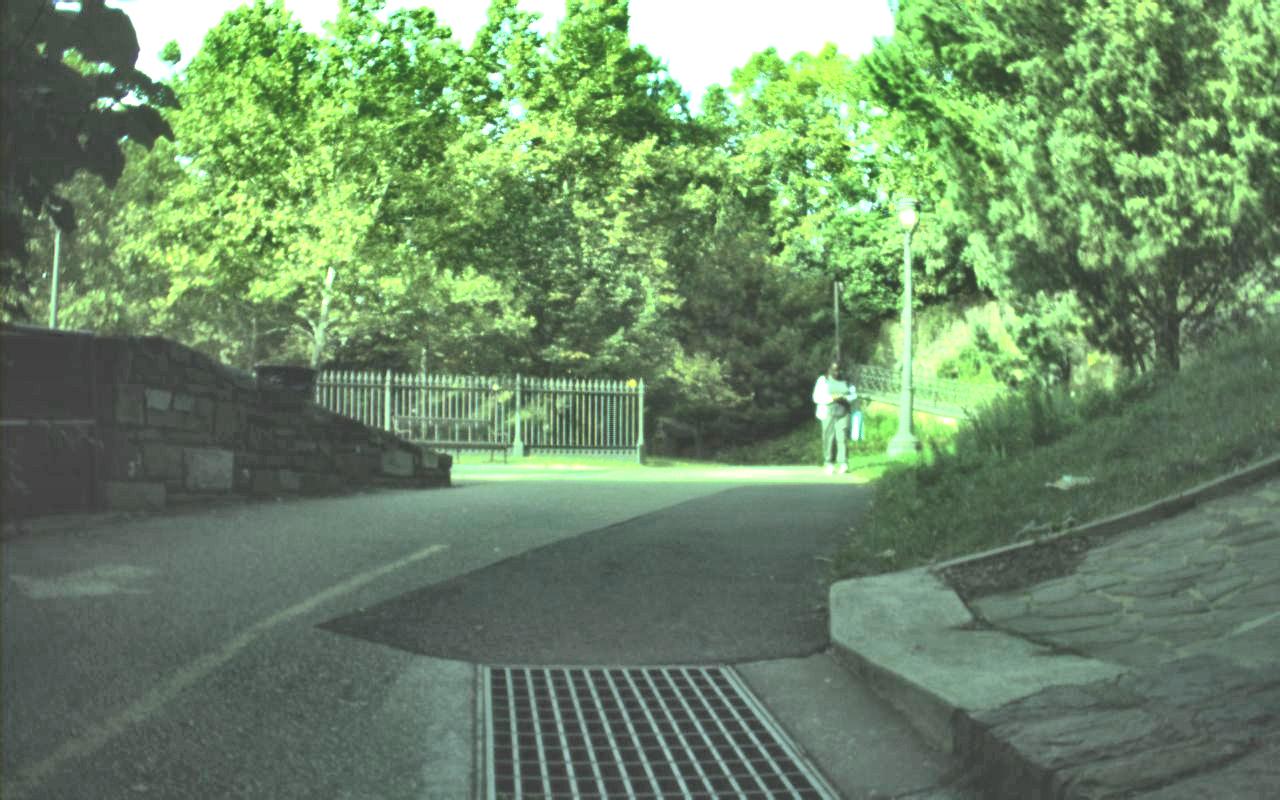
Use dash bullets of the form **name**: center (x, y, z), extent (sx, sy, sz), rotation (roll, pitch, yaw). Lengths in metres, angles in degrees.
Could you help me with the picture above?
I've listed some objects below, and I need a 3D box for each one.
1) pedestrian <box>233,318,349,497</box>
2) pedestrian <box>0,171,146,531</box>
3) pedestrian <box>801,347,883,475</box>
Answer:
- **pedestrian**: center (-3.257, 0.064, 11.371), extent (0.799, 1.589, 0.828), rotation (1, 0, 16)
- **pedestrian**: center (-3.102, -0.228, 5.779), extent (0.816, 1.690, 0.888), rotation (0, 0, 11)
- **pedestrian**: center (2.891, 0.144, 17.962), extent (0.816, 1.773, 0.857), rotation (0, 0, -27)
